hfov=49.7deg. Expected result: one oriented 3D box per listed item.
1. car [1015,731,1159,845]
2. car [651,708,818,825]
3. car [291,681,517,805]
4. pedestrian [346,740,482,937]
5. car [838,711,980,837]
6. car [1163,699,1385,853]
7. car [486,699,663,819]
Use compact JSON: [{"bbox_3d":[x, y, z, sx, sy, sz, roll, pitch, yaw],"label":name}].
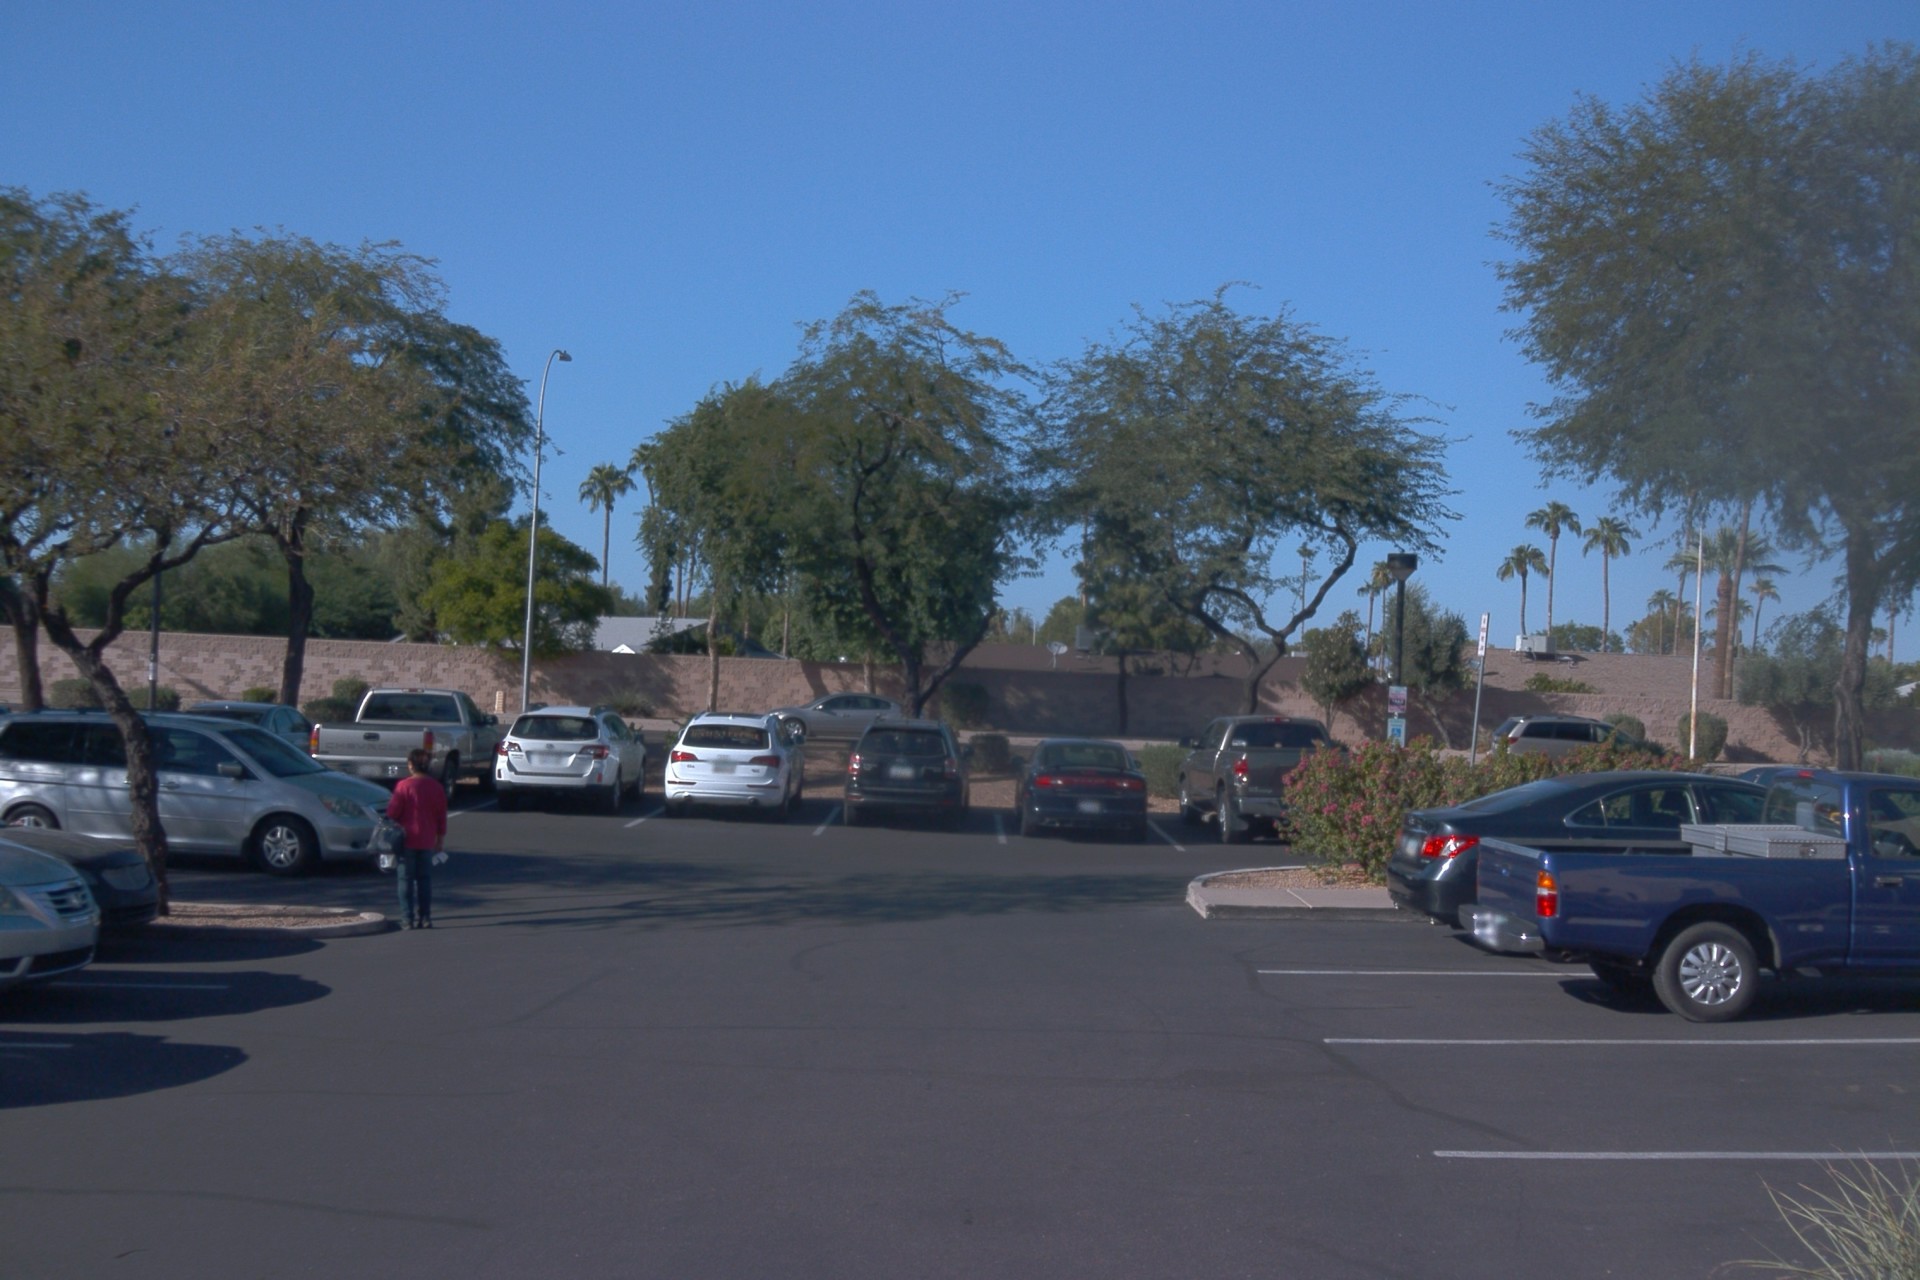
[{"bbox_3d":[1.926,2.275,32.752,2.065,1.540,4.526,1,-1,1],"label":"car"},{"bbox_3d":[-3.553,1.973,33.476,2.131,1.680,4.319,1,-1,1],"label":"car"},{"bbox_3d":[-8.894,1.602,33.642,2.243,1.840,4.833,1,-1,1],"label":"car"},{"bbox_3d":[-4.939,1.763,18.721,0.982,1.680,1.039,1,-1,-26],"label":"pedestrian"},{"bbox_3d":[-0.747,2.075,33.069,2.055,1.790,4.106,1,-1,1],"label":"car"},{"bbox_3d":[4.848,2.062,33.017,2.293,2.160,5.703,1,-1,-4],"label":"car"},{"bbox_3d":[-6.125,1.862,33.432,1.951,1.740,4.339,1,-1,1],"label":"car"}]
